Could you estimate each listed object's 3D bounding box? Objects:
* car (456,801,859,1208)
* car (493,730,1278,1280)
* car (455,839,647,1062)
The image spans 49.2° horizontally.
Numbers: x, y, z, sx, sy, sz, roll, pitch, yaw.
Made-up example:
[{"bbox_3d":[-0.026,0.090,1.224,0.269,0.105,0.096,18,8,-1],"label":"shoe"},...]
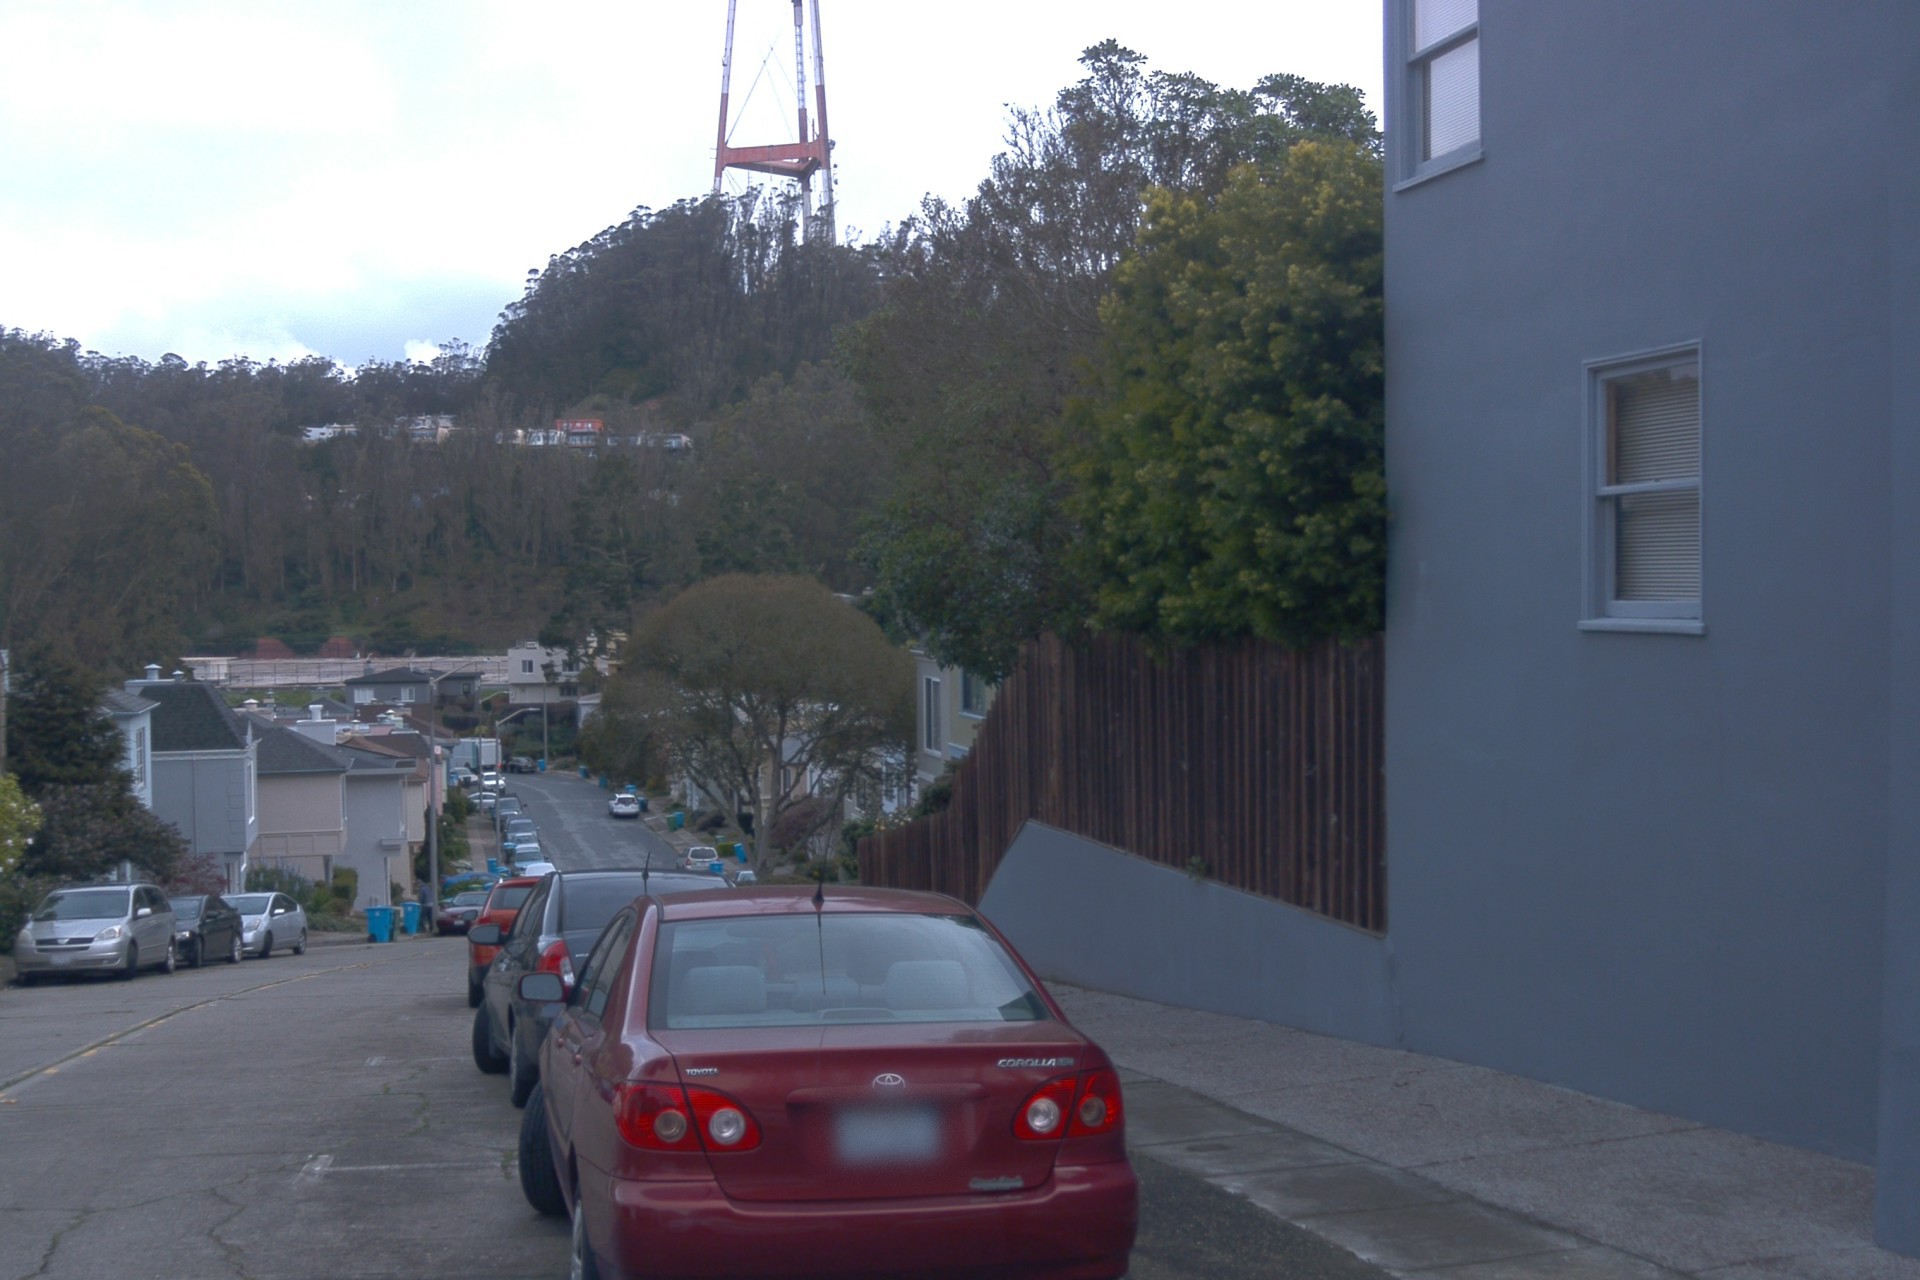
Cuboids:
[{"bbox_3d":[-2.229,2.238,14.207,2.124,1.950,4.405,1,0,-16],"label":"car"},{"bbox_3d":[-0.679,1.520,8.121,2.063,2.152,4.786,1,0,-14],"label":"car"},{"bbox_3d":[-5.061,3.719,26.027,2.106,2.060,4.766,1,0,-11],"label":"car"}]
